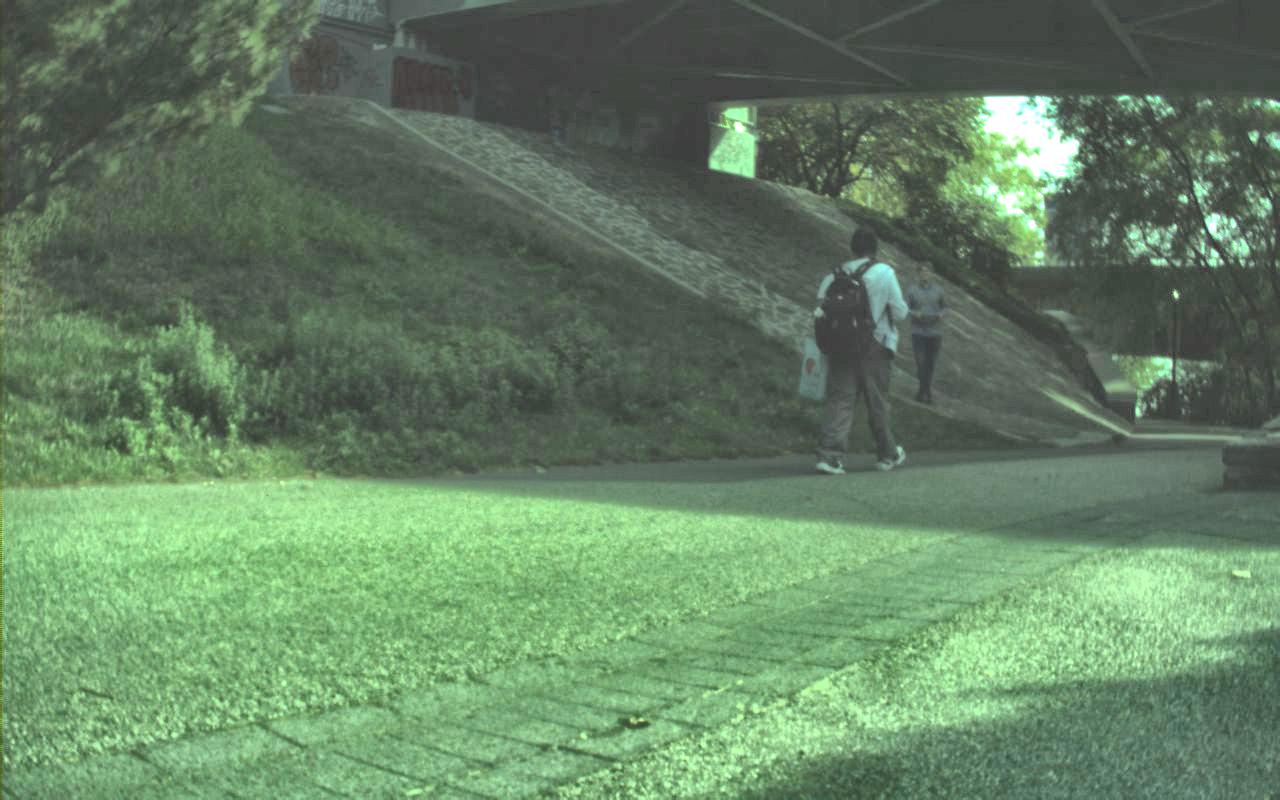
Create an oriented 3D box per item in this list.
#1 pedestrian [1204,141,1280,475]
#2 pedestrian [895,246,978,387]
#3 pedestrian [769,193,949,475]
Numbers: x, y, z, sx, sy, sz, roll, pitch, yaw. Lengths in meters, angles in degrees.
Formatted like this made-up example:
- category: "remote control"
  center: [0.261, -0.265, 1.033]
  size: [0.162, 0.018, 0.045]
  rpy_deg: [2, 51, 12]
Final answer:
- category: "pedestrian"
  center: [3.555, -0.485, 6.294]
  size: [0.716, 1.784, 0.717]
  rpy_deg: [1, 0, 34]
- category: "pedestrian"
  center: [3.874, -1.060, 16.152]
  size: [0.787, 1.793, 0.760]
  rpy_deg: [0, 0, -35]
- category: "pedestrian"
  center: [1.478, -0.422, 8.305]
  size: [0.867, 1.744, 0.921]
  rpy_deg: [1, 0, 39]
